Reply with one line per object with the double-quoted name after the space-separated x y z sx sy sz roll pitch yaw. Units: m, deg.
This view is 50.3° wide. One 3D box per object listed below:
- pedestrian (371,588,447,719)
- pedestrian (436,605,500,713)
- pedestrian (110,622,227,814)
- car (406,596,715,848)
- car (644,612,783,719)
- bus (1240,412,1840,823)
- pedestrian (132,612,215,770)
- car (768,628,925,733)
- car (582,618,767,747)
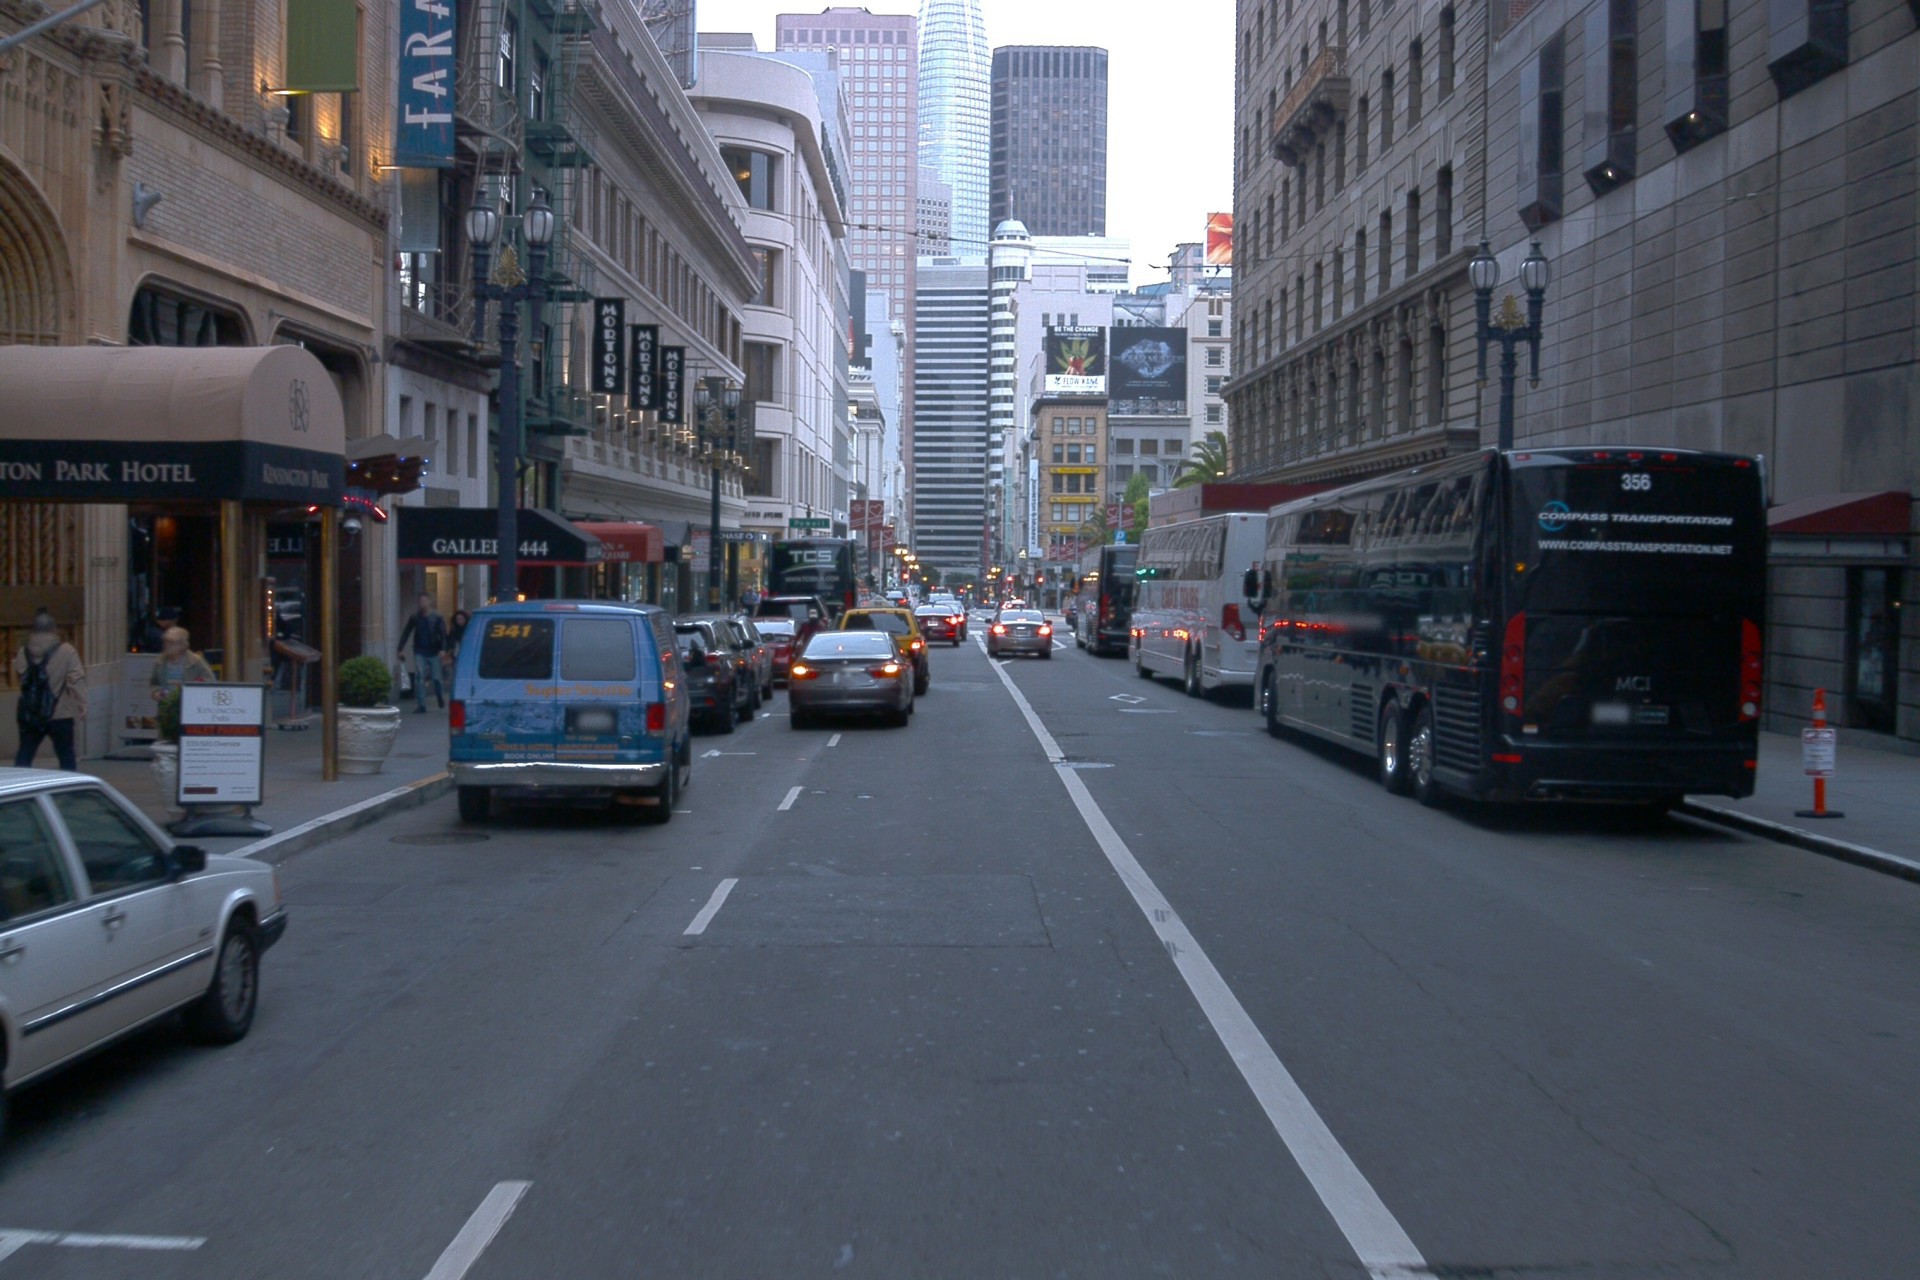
-8.319 0.197 30.933 0.942 1.940 1.042 0 1 -5 "pedestrian"
-7.440 0.278 30.962 0.778 1.610 0.930 0 1 -3 "pedestrian"
-6.804 0.654 17.615 0.719 1.610 0.766 0 1 0 "pedestrian"
-3.797 0.684 20.575 2.467 2.182 5.614 0 1 -5 "car"
-4.358 0.407 36.787 2.093 1.810 4.552 0 1 -2 "car"
6.042 -0.264 24.834 3.177 3.610 13.681 0 1 -1 "bus"
-8.689 0.552 22.617 0.716 1.710 0.720 0 1 -8 "pedestrian"
-1.711 0.582 32.591 2.149 1.510 4.904 0 1 1 "car"
-4.279 0.583 31.425 2.183 1.830 4.884 0 1 0 "car"
